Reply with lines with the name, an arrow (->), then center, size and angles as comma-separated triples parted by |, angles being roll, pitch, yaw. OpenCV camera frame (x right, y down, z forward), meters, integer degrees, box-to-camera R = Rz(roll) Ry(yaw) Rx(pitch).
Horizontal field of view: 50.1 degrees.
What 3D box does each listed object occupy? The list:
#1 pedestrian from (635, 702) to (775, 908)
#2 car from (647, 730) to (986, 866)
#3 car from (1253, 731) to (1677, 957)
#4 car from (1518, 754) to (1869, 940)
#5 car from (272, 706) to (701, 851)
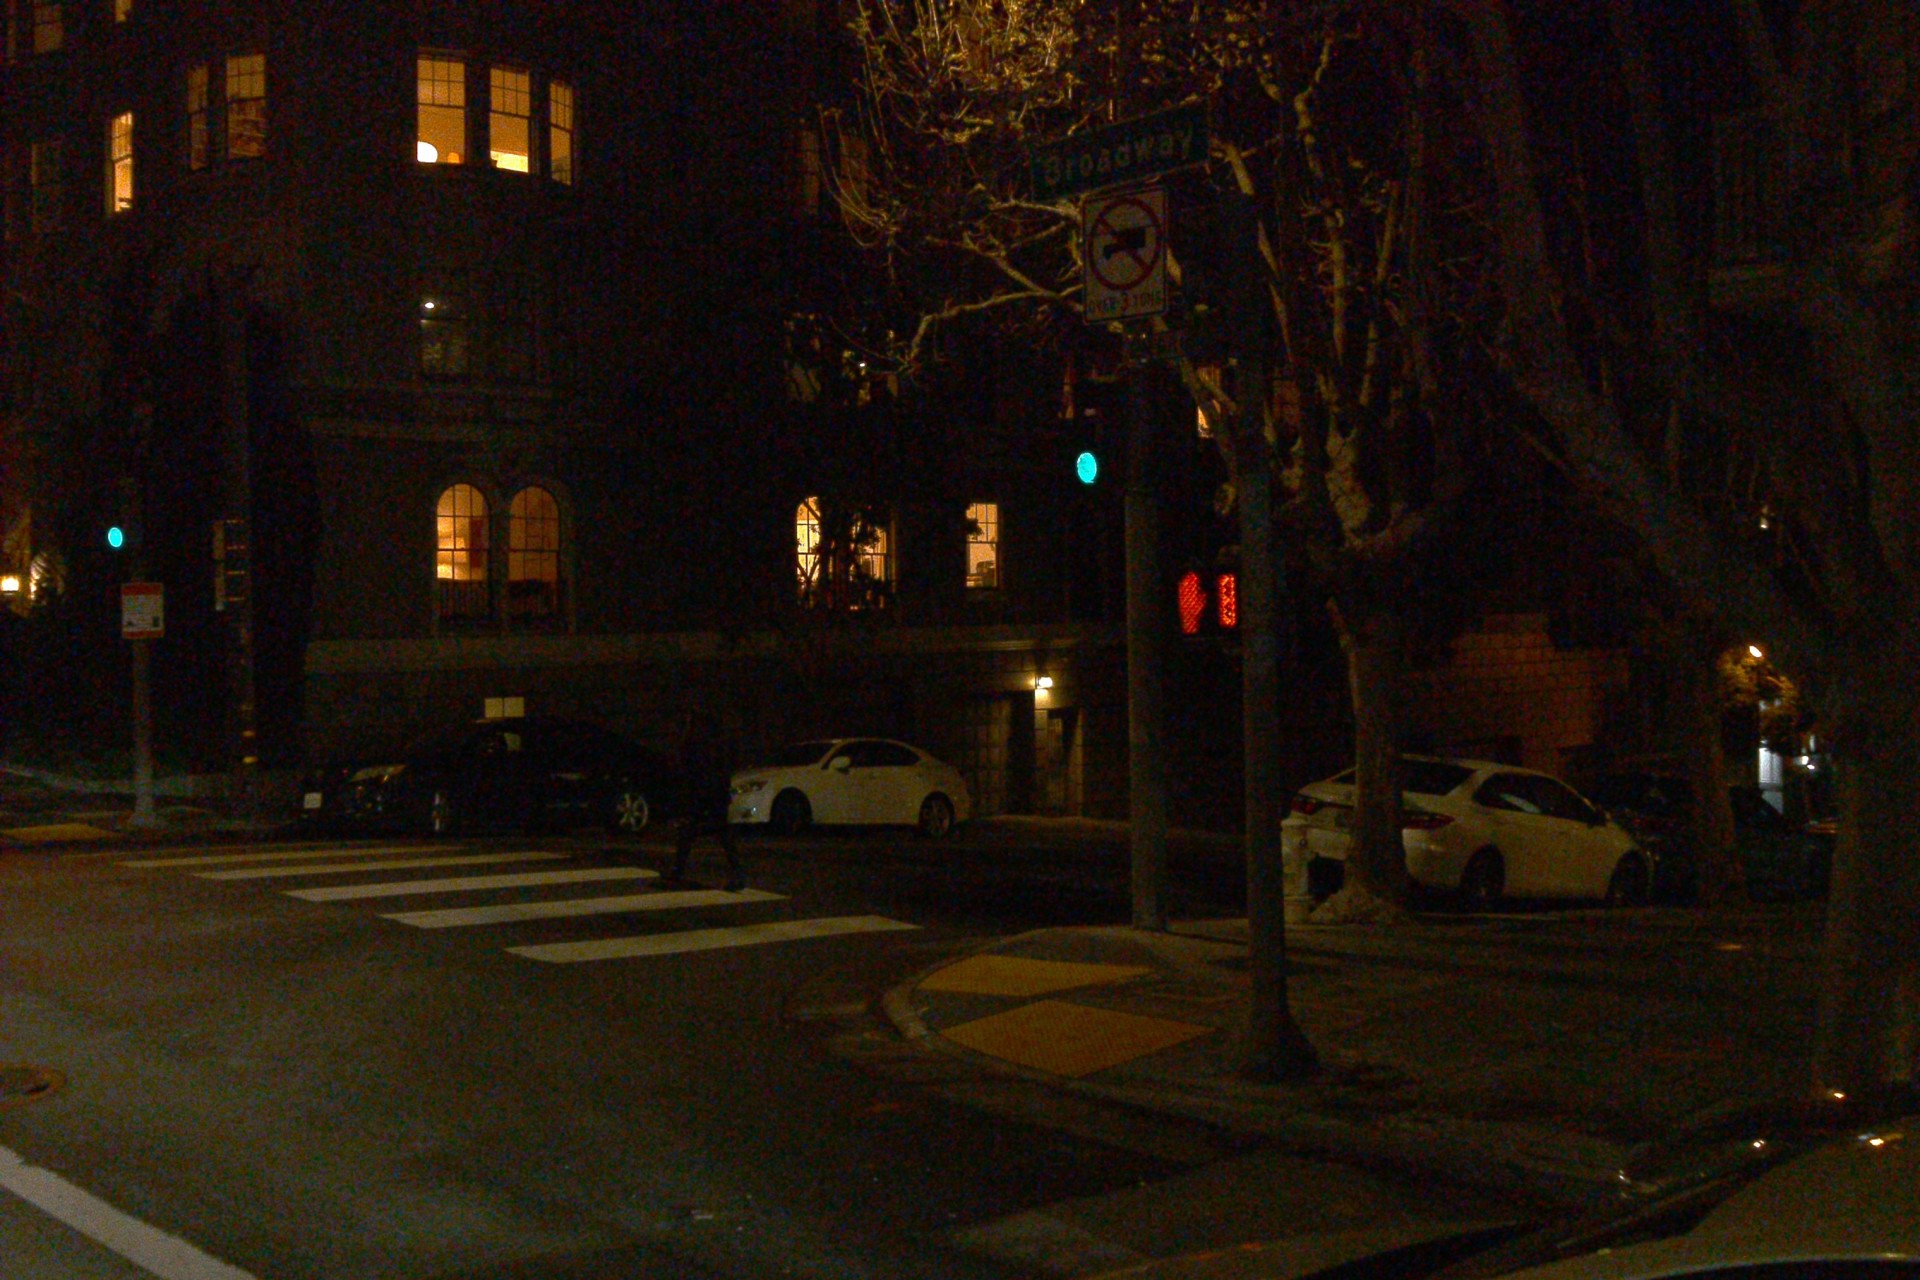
pedestrian -> -2.064, 1.304, 16.625 | 0.903, 1.570, 0.706 | 0, 0, 45
car -> -1.845, 2.052, 27.685 | 1.919, 1.482, 4.488 | 1, 0, 42
car -> 5.162, 1.928, 20.643 | 4.554, 1.811, 1.990 | 0, 0, -44
car -> 8.910, 2.381, 24.707 | 4.887, 1.744, 1.990 | 0, 0, -44
car -> -5.391, 1.529, 23.887 | 1.838, 1.362, 4.644 | 1, 0, 42
